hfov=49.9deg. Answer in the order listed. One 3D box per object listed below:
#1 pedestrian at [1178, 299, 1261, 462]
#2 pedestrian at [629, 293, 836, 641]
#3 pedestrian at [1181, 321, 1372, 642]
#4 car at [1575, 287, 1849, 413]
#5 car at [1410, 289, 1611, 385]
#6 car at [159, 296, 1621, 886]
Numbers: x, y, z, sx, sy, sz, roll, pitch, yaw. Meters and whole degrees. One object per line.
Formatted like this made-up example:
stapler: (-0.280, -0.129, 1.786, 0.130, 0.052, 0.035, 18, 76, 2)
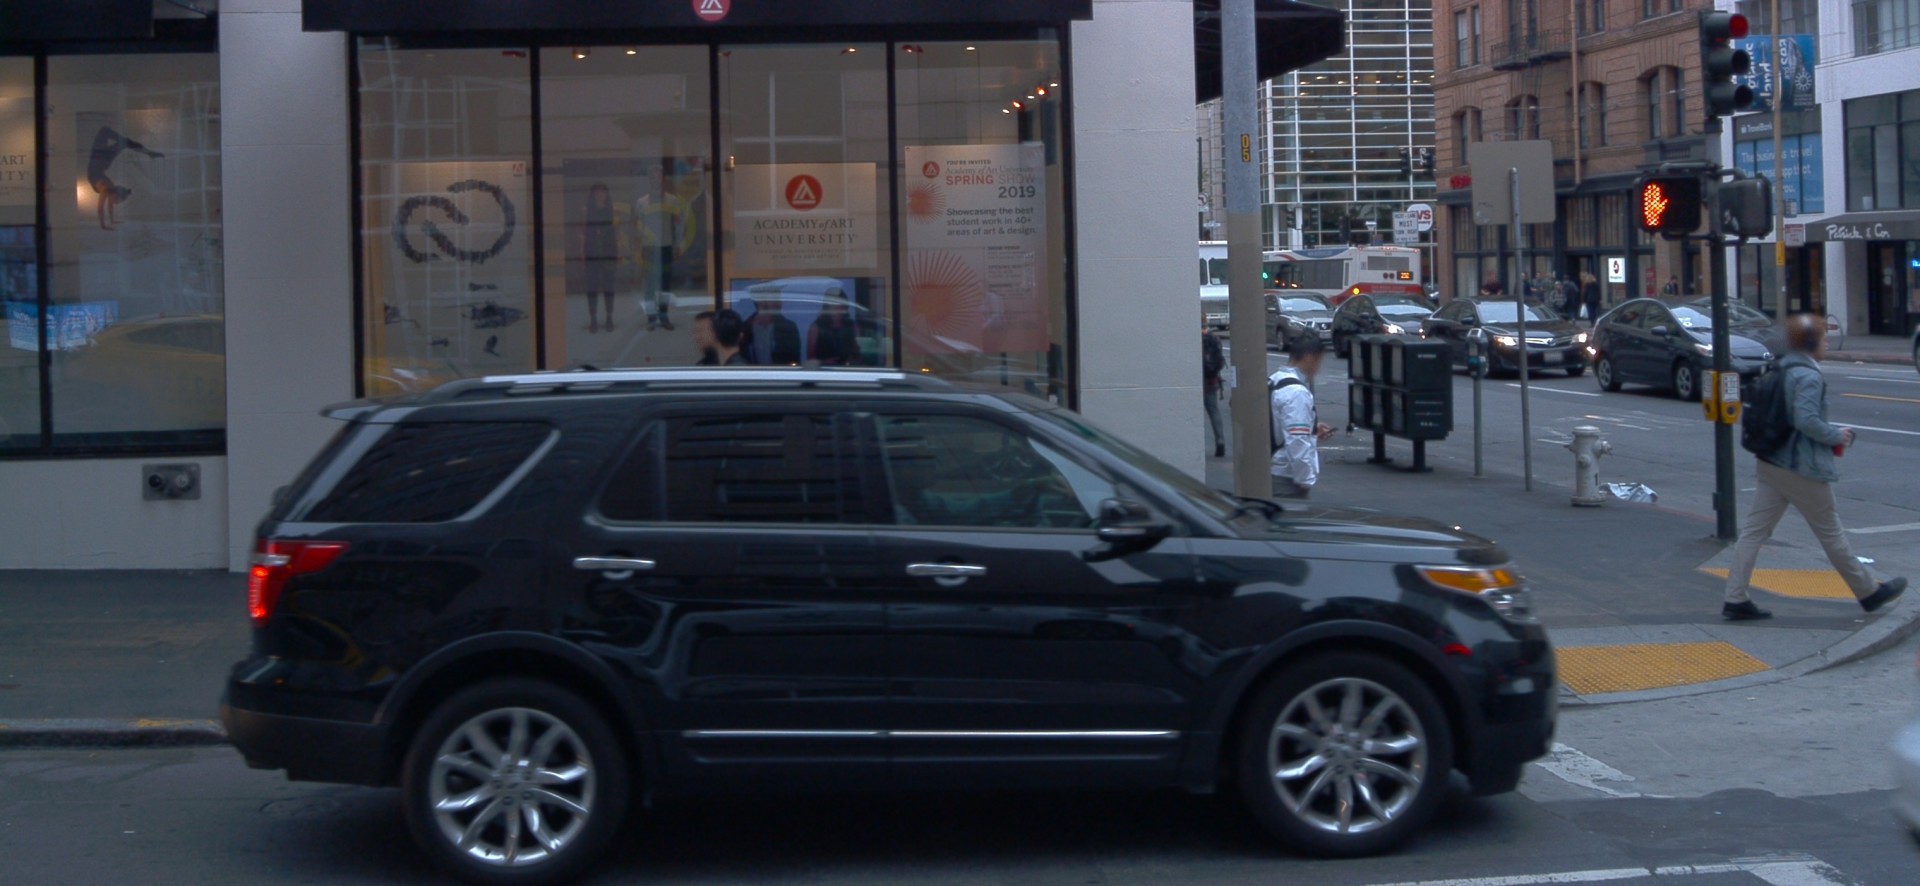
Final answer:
pedestrian: (2.926, -0.726, 23.352, 0.849, 1.746, 1.165, 0, 3, 3)
pedestrian: (-1.357, 0.108, 12.407, 1.184, 1.967, 0.835, -1, 2, -5)
pedestrian: (1.811, 0.194, 11.905, 0.964, 1.747, 0.717, 0, 2, -3)
car: (11.046, -1.453, 30.672, 2.064, 1.531, 4.507, -1, 6, -6)
car: (10.037, -2.016, 38.002, 2.075, 1.442, 4.653, -1, 6, -6)
car: (-0.242, 0.477, 8.125, 4.941, 1.963, 2.293, -1, 4, -4)
